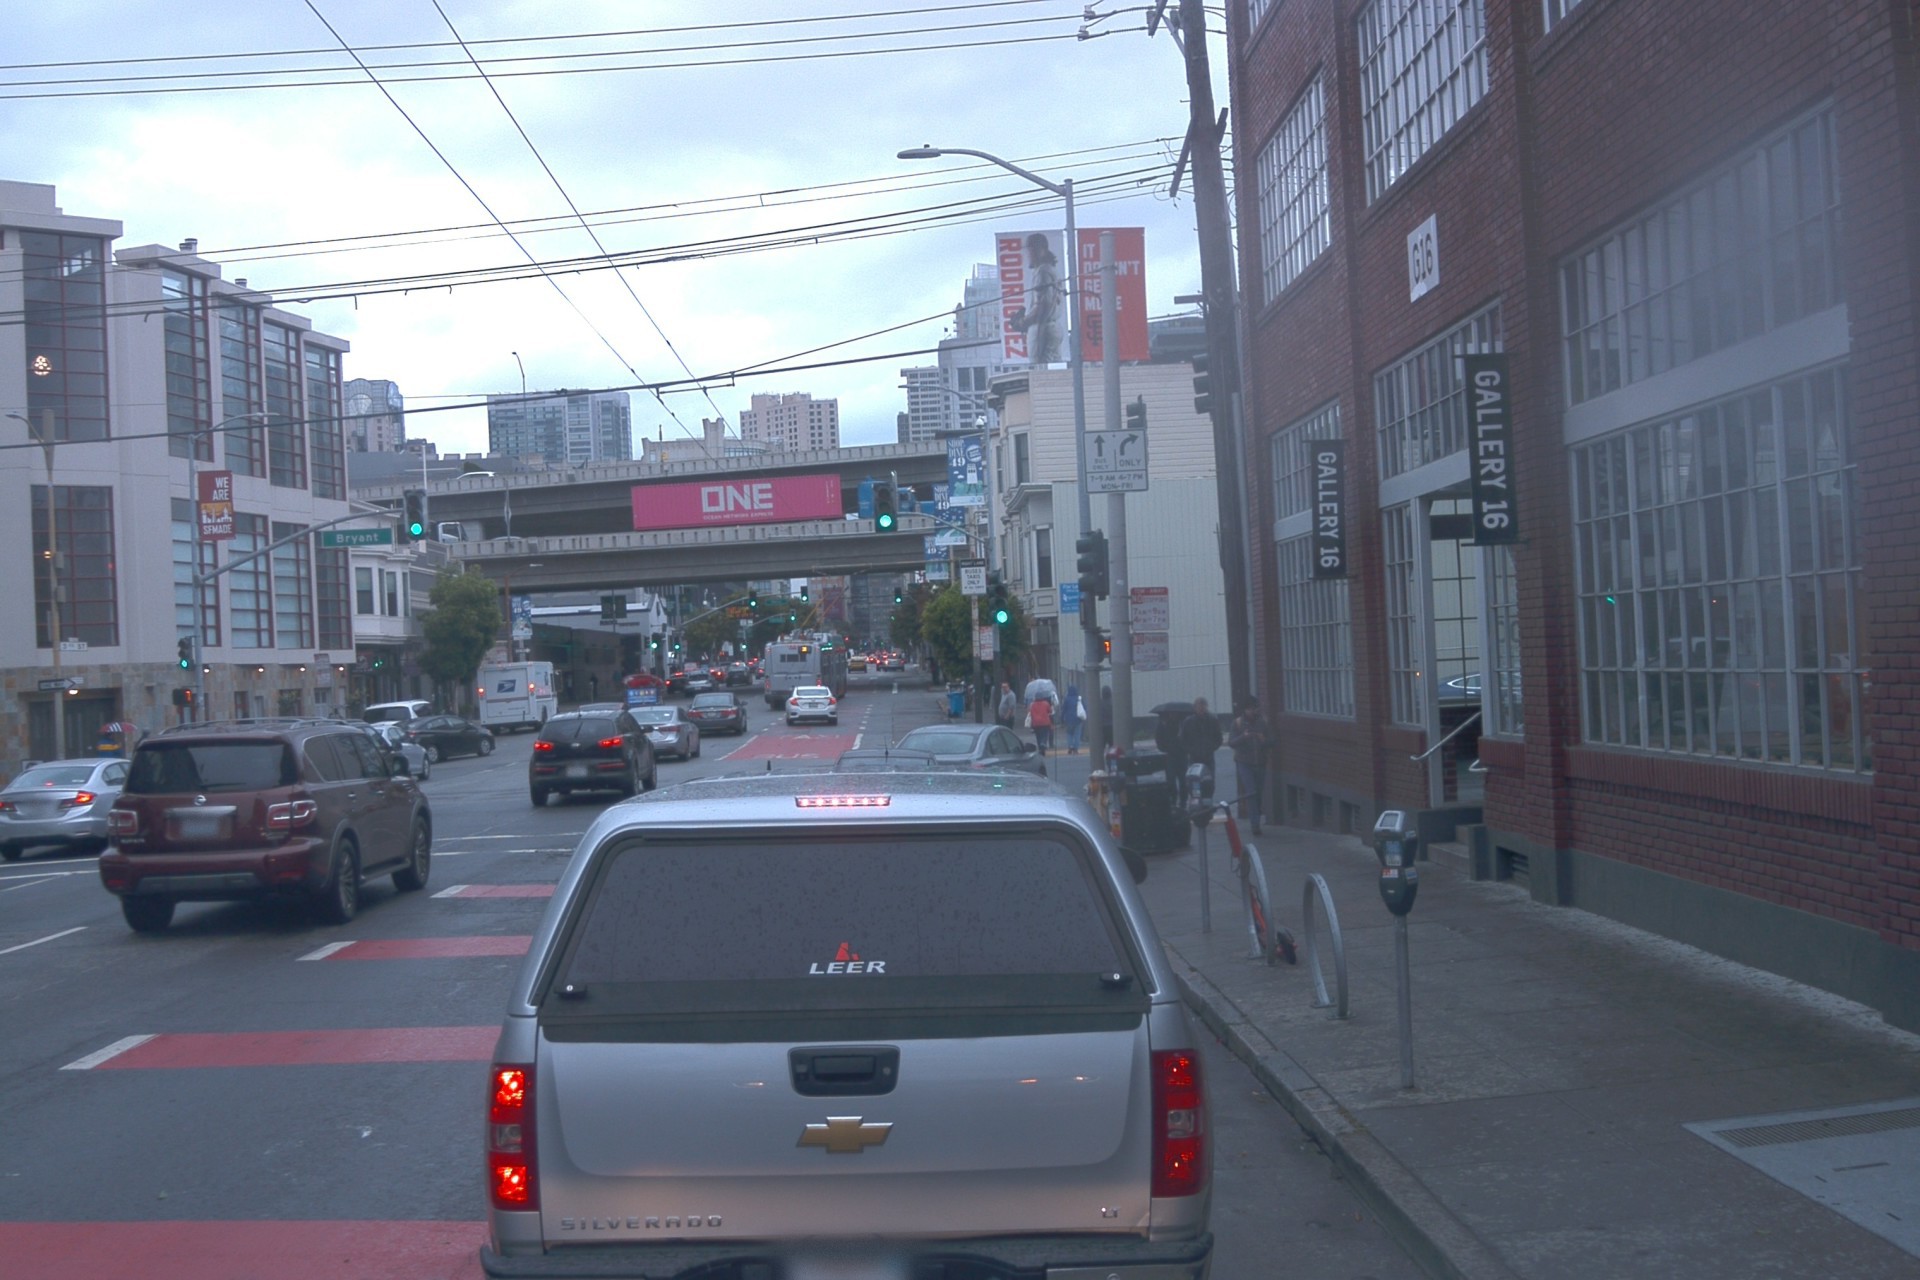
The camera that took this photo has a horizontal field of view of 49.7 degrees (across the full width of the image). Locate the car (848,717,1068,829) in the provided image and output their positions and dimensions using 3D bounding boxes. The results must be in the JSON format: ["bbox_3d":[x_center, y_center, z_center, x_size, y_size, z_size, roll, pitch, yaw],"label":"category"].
[{"bbox_3d":[0.063,1.984,31.970,2.071,1.500,4.413,0,-1,19],"label":"car"}]

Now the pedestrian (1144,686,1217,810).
[{"bbox_3d":[3.404,1.655,32.062,1.016,1.870,1.039,0,-1,0],"label":"pedestrian"}]

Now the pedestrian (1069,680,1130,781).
[{"bbox_3d":[2.505,1.595,37.037,1.053,1.770,1.060,0,-1,5],"label":"pedestrian"}]

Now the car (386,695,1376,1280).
[{"bbox_3d":[-0.310,1.283,7.838,2.411,2.070,5.546,0,-1,-3],"label":"car"}]

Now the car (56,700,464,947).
[{"bbox_3d":[-6.796,1.692,20.901,2.421,2.080,5.314,0,-1,-1],"label":"car"}]

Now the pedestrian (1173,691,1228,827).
[{"bbox_3d":[3.398,1.664,29.308,0.749,1.870,0.954,0,-1,6],"label":"pedestrian"}]

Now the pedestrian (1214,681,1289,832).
[{"bbox_3d":[3.607,1.428,25.730,0.763,1.820,0.914,0,-1,-3],"label":"pedestrian"}]
